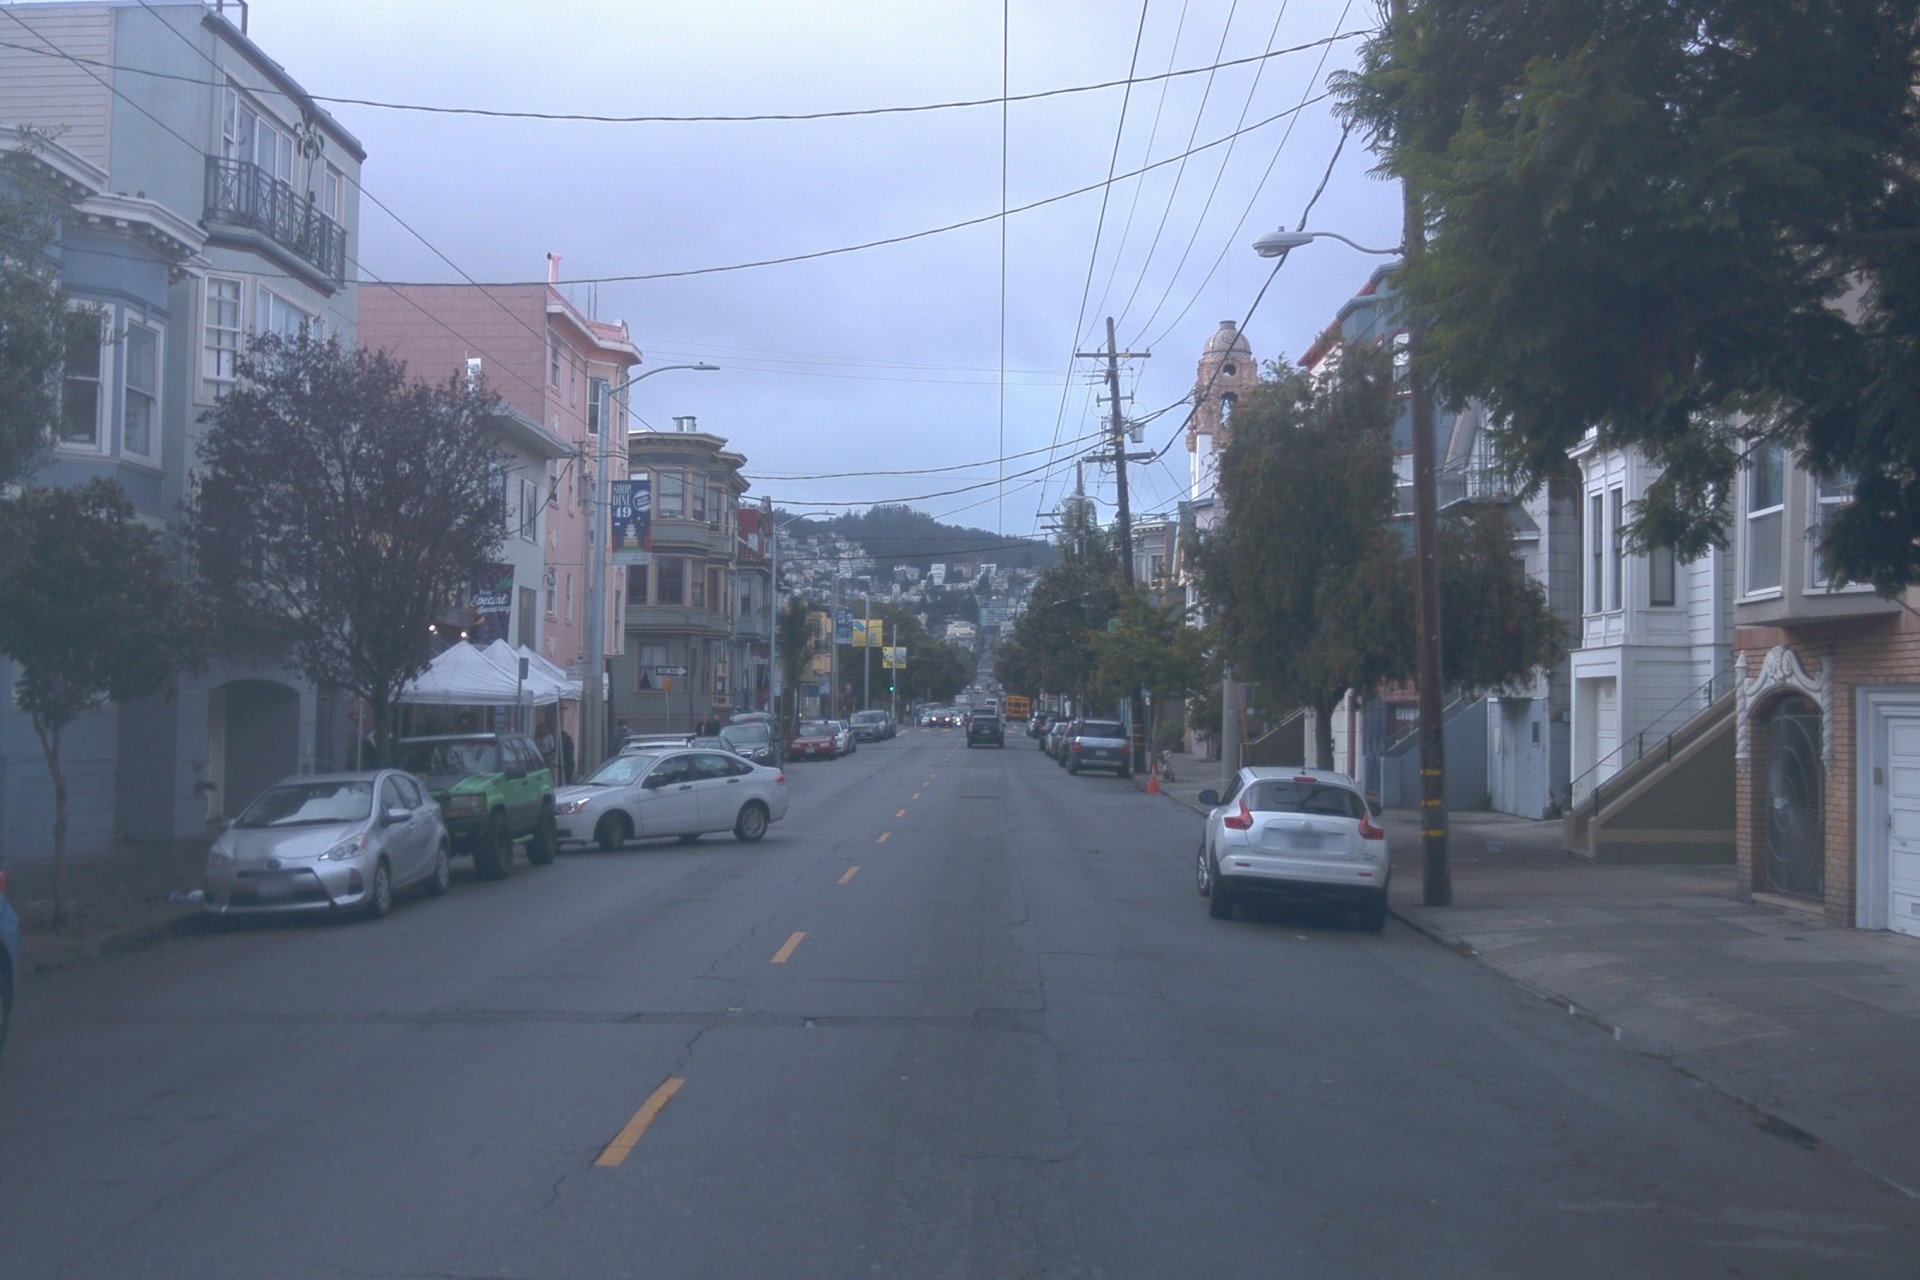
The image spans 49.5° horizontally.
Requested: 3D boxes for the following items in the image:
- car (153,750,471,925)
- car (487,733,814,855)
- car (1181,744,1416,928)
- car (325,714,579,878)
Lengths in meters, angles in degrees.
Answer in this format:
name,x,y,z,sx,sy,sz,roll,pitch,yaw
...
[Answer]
name,x,y,z,sx,sy,sz,roll,pitch,yaw
car,-6.540,1.953,21.542,1.991,1.500,4.028,1,-2,0
car,-4.570,2.248,31.286,2.015,1.640,4.530,0,-2,44
car,3.514,2.009,22.342,2.028,1.650,4.143,1,-2,3
car,-6.316,1.892,26.467,2.012,1.830,4.572,1,-2,1
